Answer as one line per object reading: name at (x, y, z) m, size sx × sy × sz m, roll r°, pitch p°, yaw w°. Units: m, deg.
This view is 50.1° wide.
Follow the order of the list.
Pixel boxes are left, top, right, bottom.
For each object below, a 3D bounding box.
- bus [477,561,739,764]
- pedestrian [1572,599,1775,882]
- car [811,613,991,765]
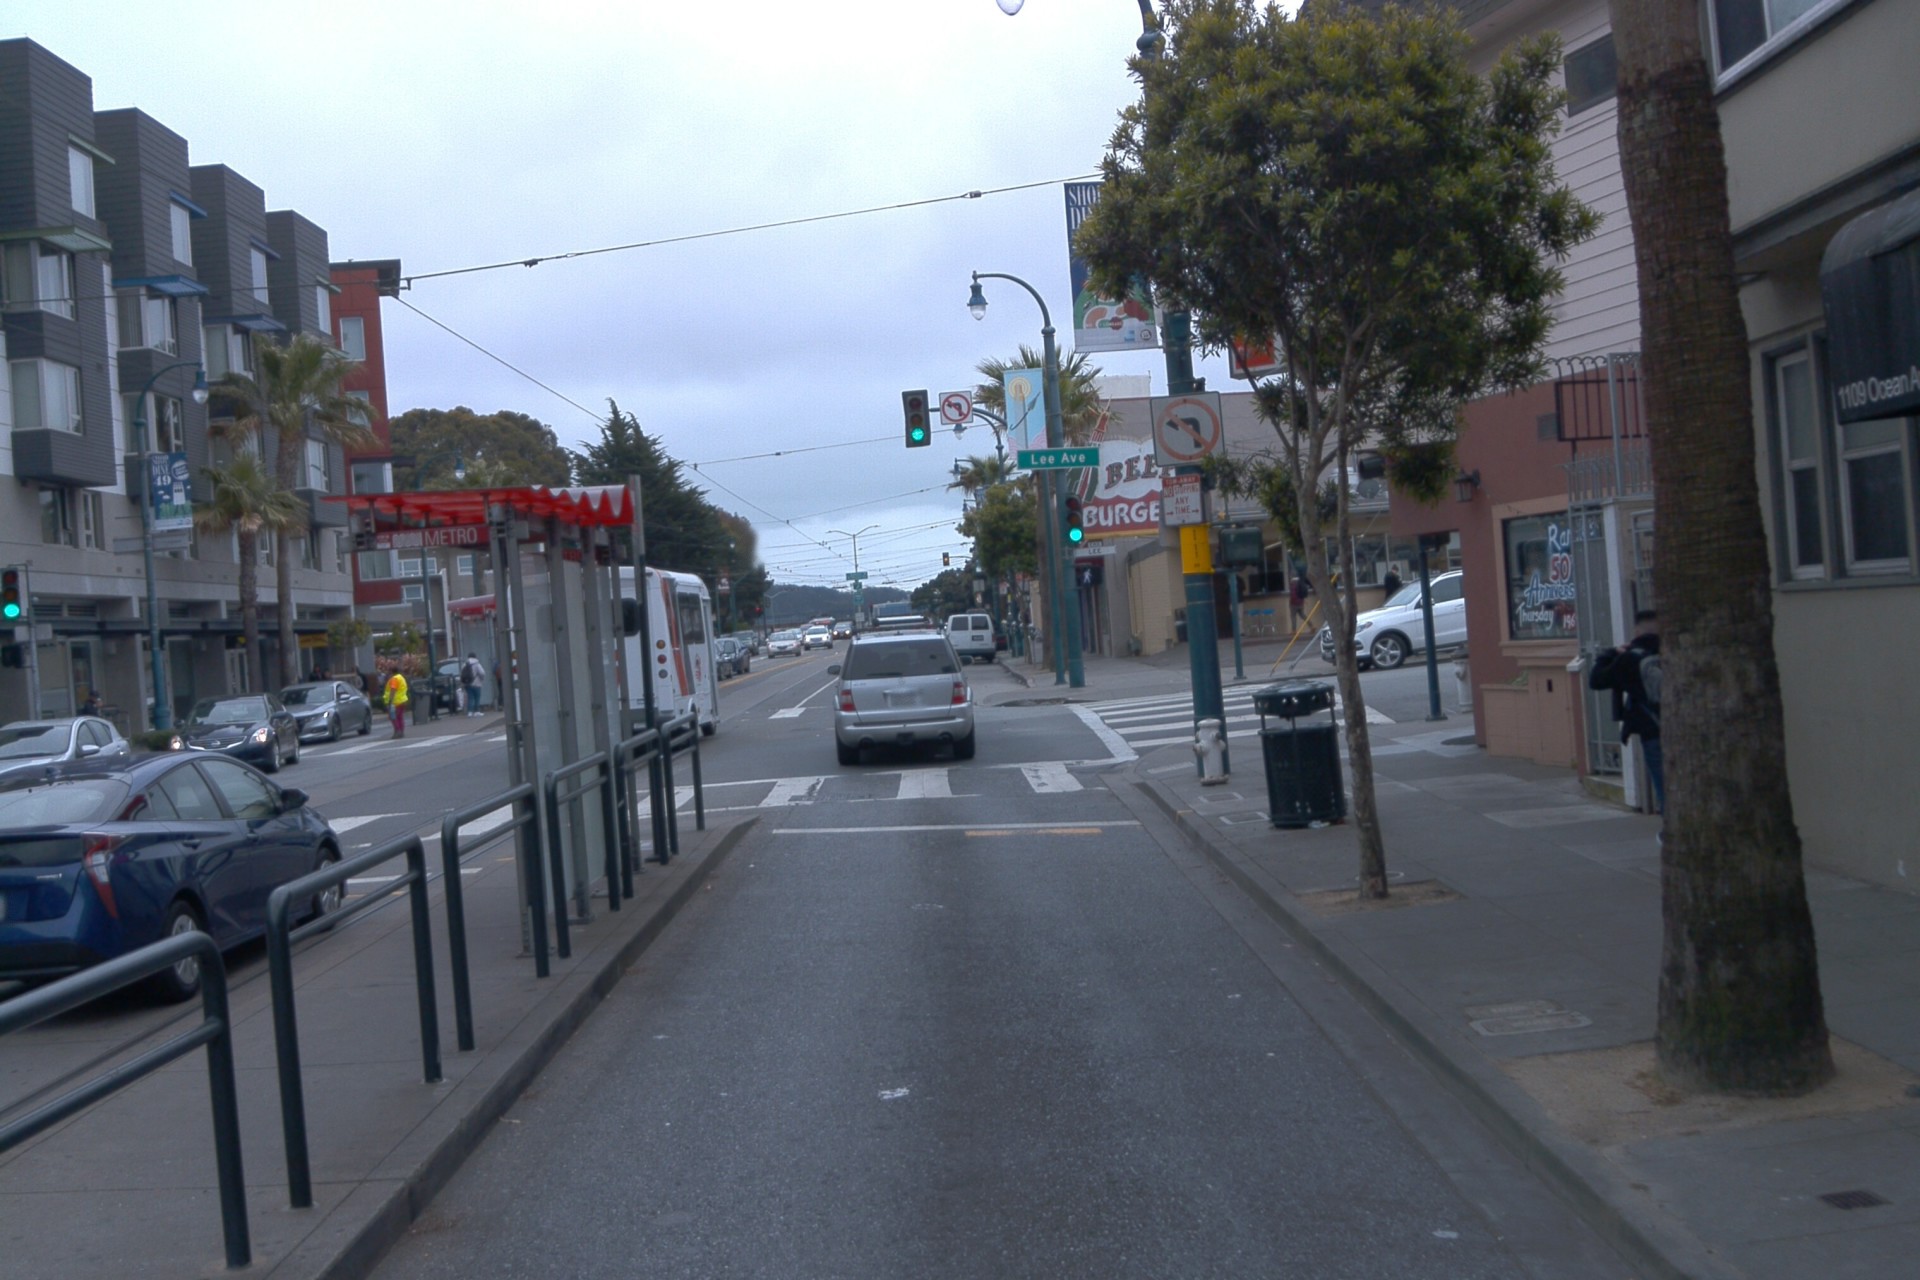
bus at (-5.657, 0.288, 34.327) m, size 3.022 × 3.040 × 6.906 m, roll 0°, pitch 1°, yaw 1°
pedestrian at (4.446, 0.598, 12.887) m, size 0.910 × 1.699 × 1.008 m, roll 0°, pitch 1°, yaw 0°
car at (-0.804, 0.609, 28.644) m, size 2.303 × 1.940 × 4.182 m, roll 0°, pitch 1°, yaw -1°
